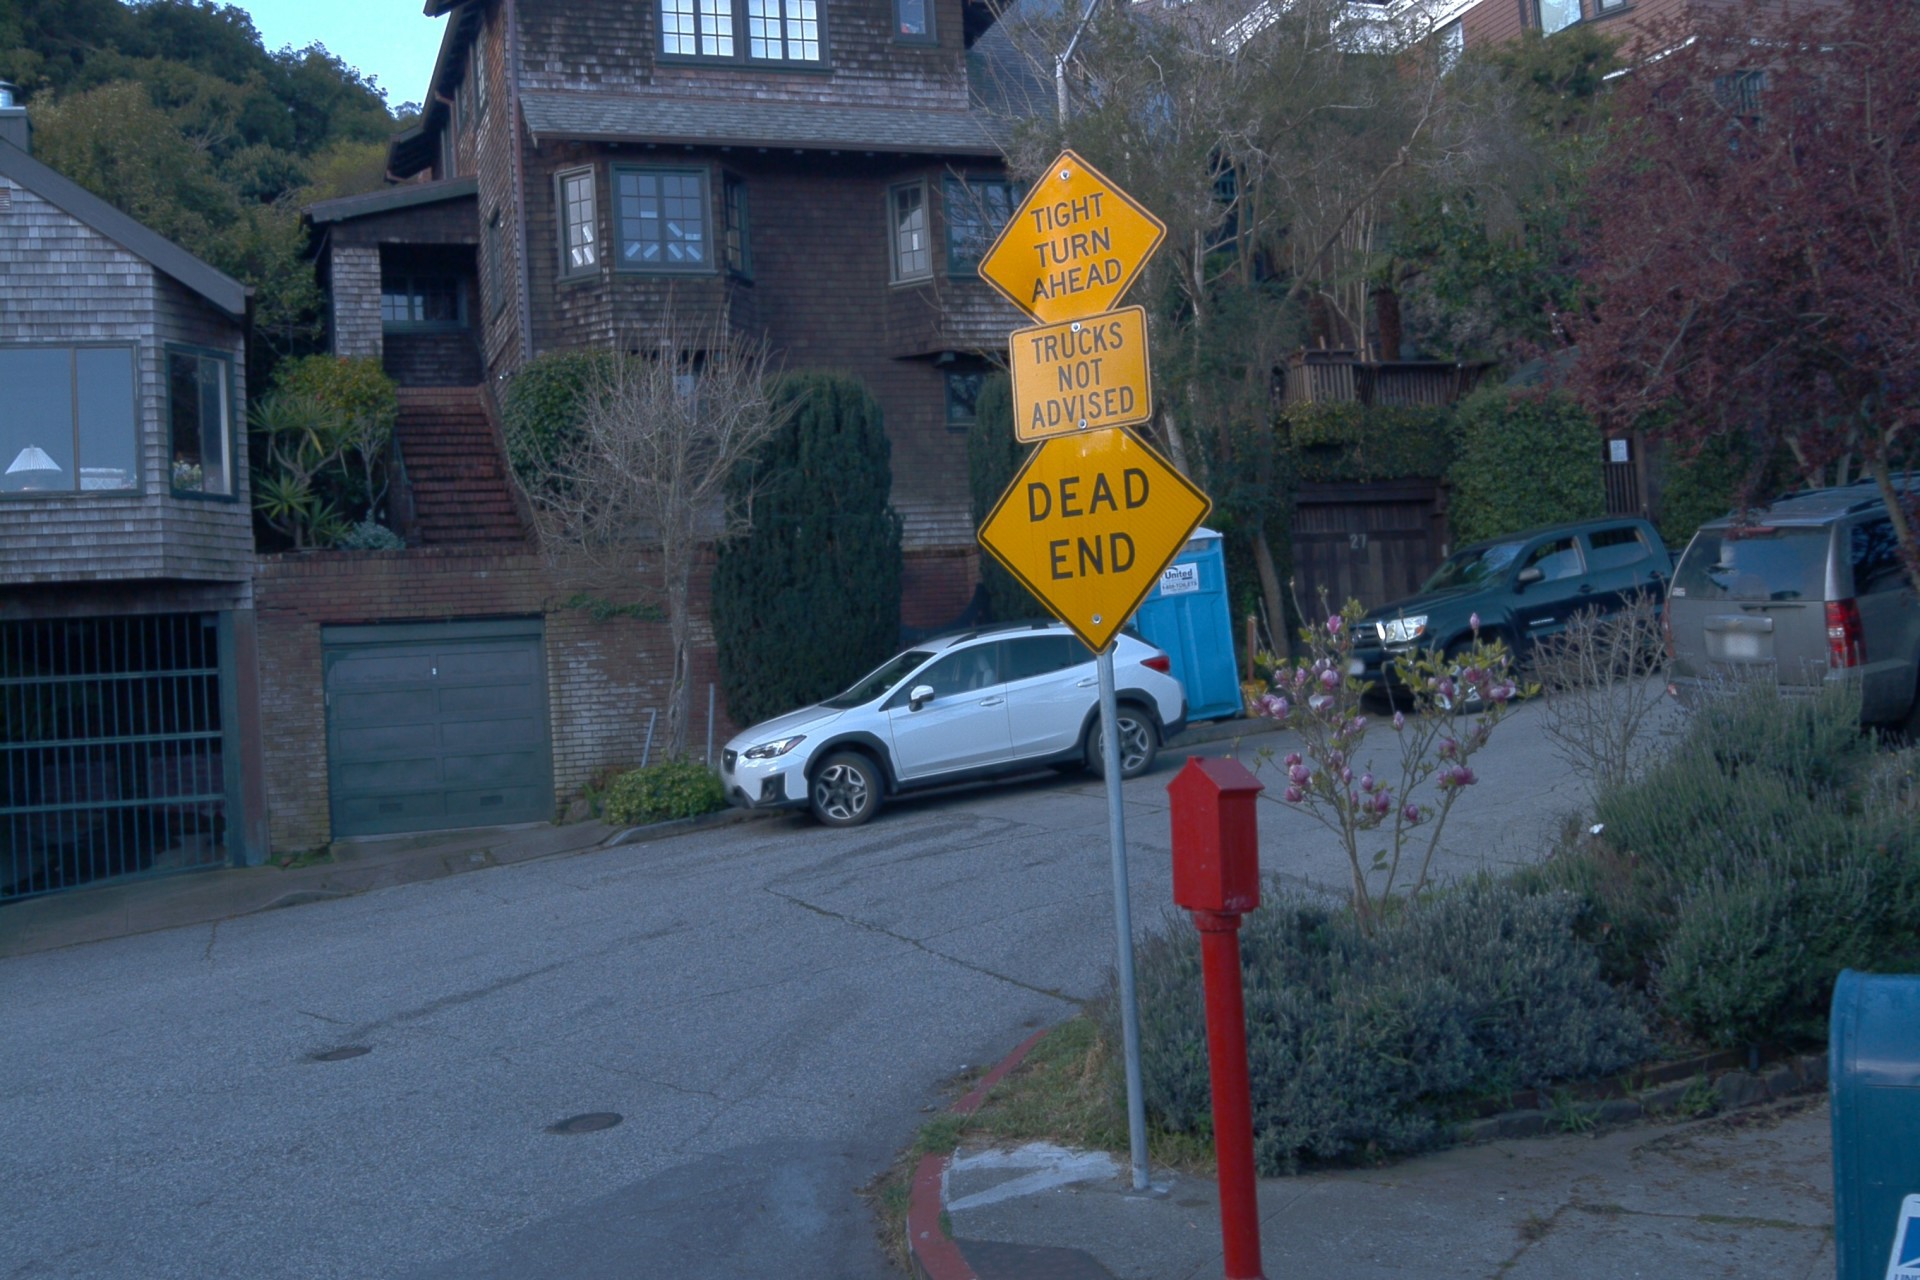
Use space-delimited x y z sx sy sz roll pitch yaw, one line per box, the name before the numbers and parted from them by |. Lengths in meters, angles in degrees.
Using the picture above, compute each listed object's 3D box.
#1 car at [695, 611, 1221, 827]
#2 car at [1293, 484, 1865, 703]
car | -0.073 0.698 19.869 4.664 1.919 2.142 0 0 -15
car | 6.697 -0.457 22.275 5.770 2.139 2.254 0 0 -22
